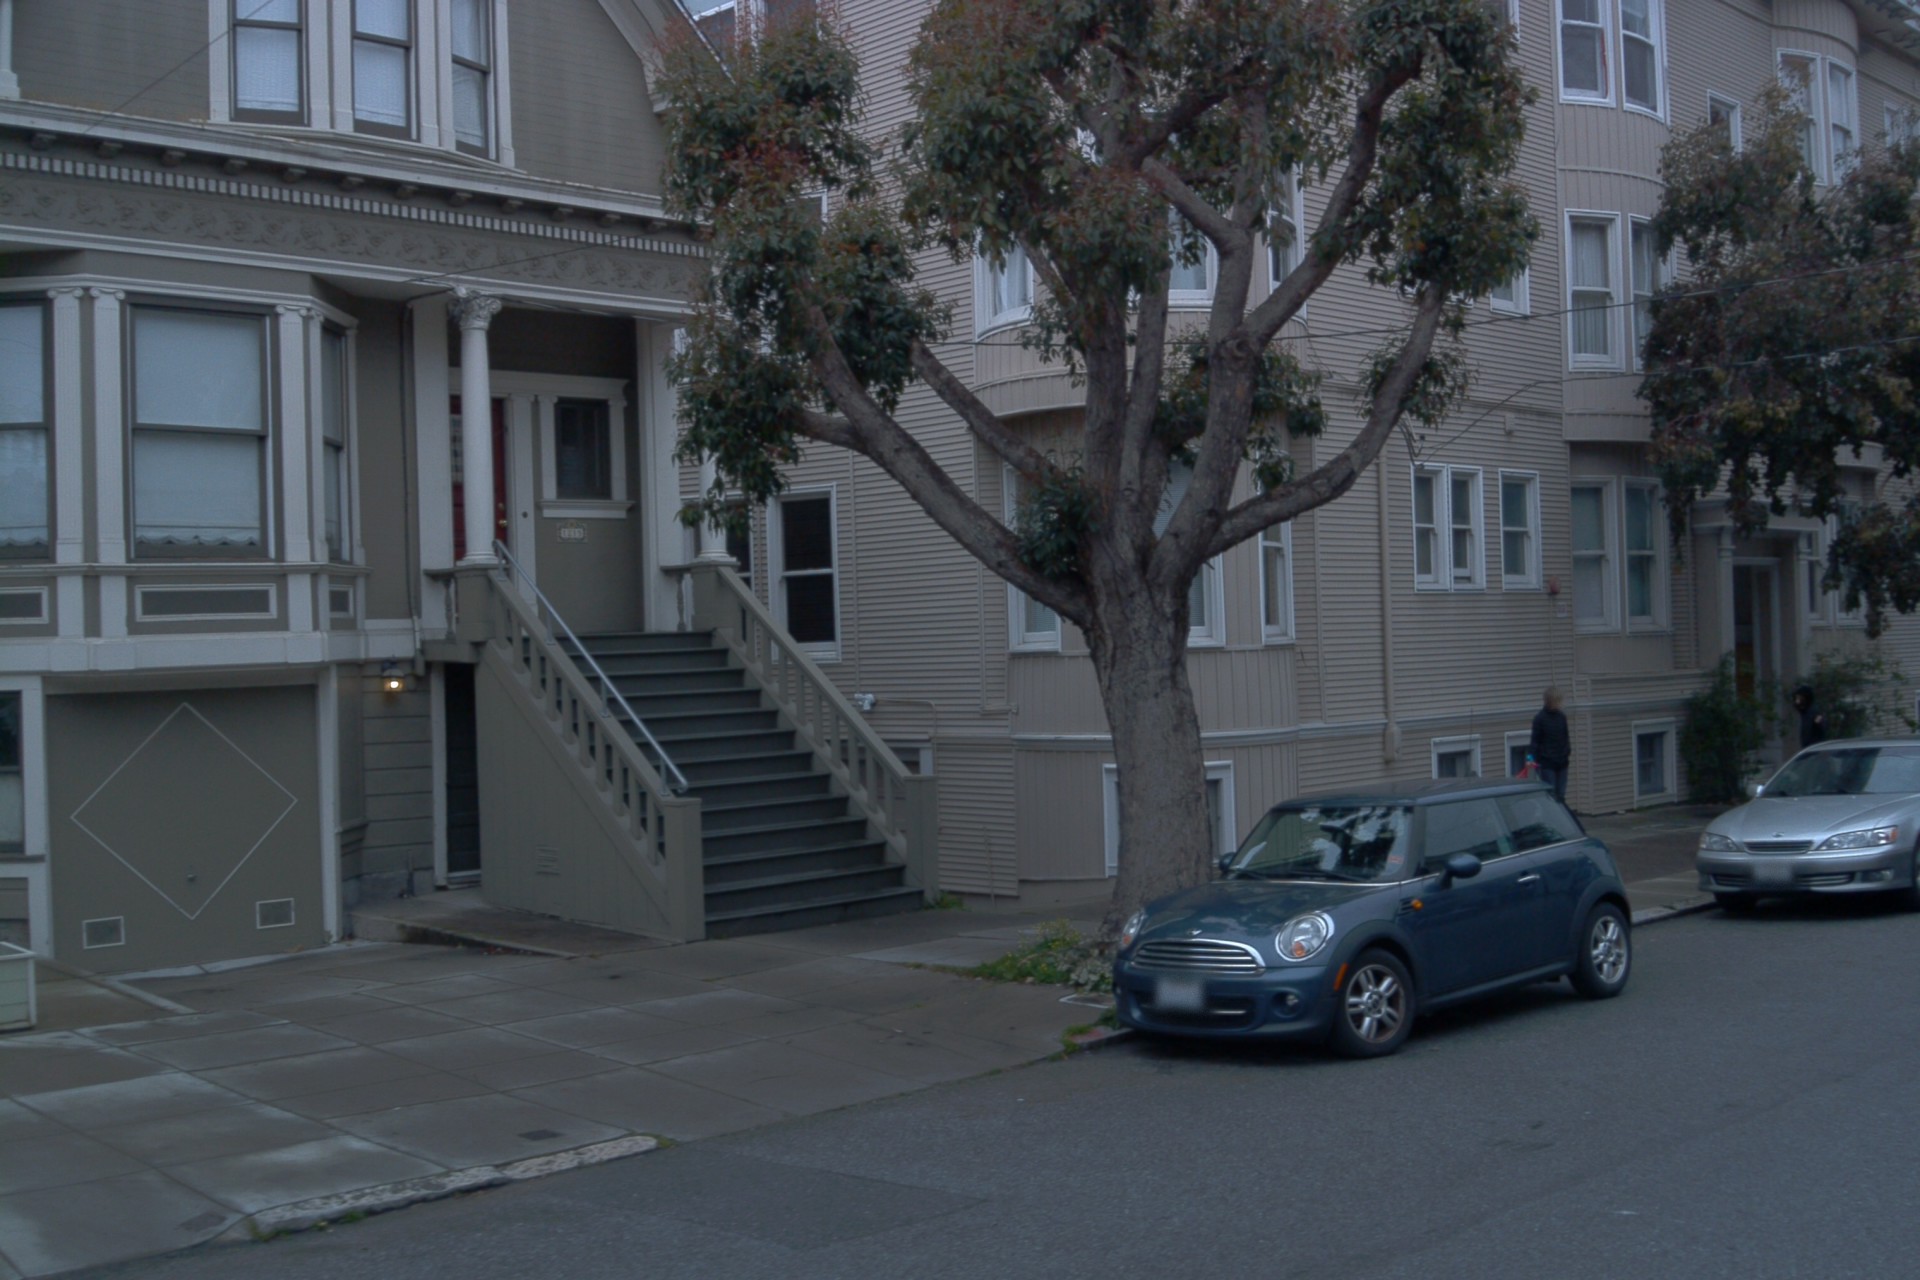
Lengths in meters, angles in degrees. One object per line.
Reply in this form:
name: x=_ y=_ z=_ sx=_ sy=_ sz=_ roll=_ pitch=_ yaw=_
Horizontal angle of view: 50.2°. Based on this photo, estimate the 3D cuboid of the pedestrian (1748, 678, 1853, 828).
pedestrian: x=9.679 y=1.281 z=23.614 sx=0.900 sy=1.650 sz=0.749 roll=1 pitch=1 yaw=42

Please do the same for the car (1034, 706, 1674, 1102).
car: x=2.464 y=1.397 z=12.326 sx=3.811 sy=1.830 sz=1.889 roll=0 pitch=1 yaw=-43

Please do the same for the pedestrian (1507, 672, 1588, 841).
pedestrian: x=6.651 y=1.301 z=23.217 sx=0.647 sy=1.860 sz=0.575 roll=0 pitch=1 yaw=-33
